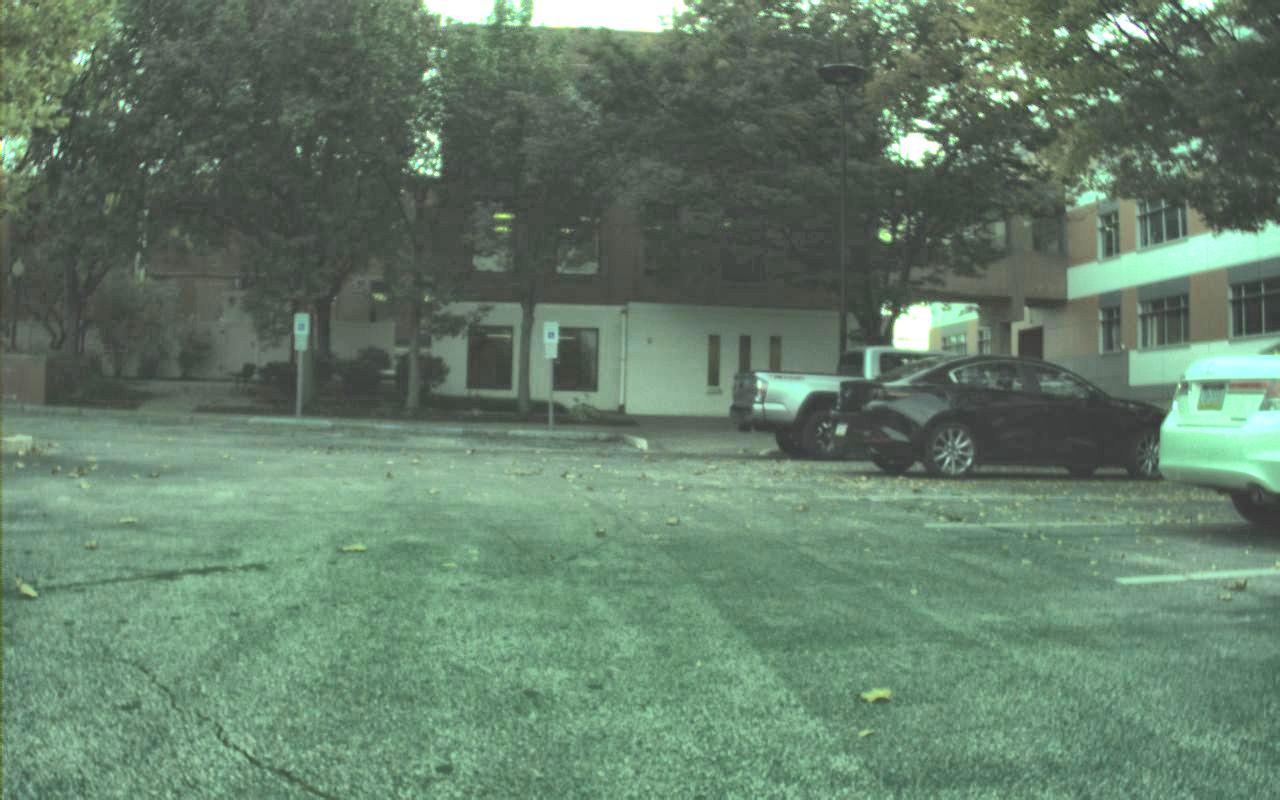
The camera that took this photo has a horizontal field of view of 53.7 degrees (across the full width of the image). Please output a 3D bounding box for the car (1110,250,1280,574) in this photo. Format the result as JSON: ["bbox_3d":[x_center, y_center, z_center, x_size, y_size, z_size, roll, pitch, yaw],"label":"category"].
[{"bbox_3d":[5.313,0.065,6.803,4.494,1.608,1.947,0,1,-8],"label":"car"}]

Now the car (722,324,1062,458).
[{"bbox_3d":[3.925,-0.142,19.443,5.010,1.917,2.098,0,1,-8],"label":"car"}]

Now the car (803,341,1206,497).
[{"bbox_3d":[4.378,0.179,14.417,4.587,1.619,1.947,0,1,-13],"label":"car"}]
